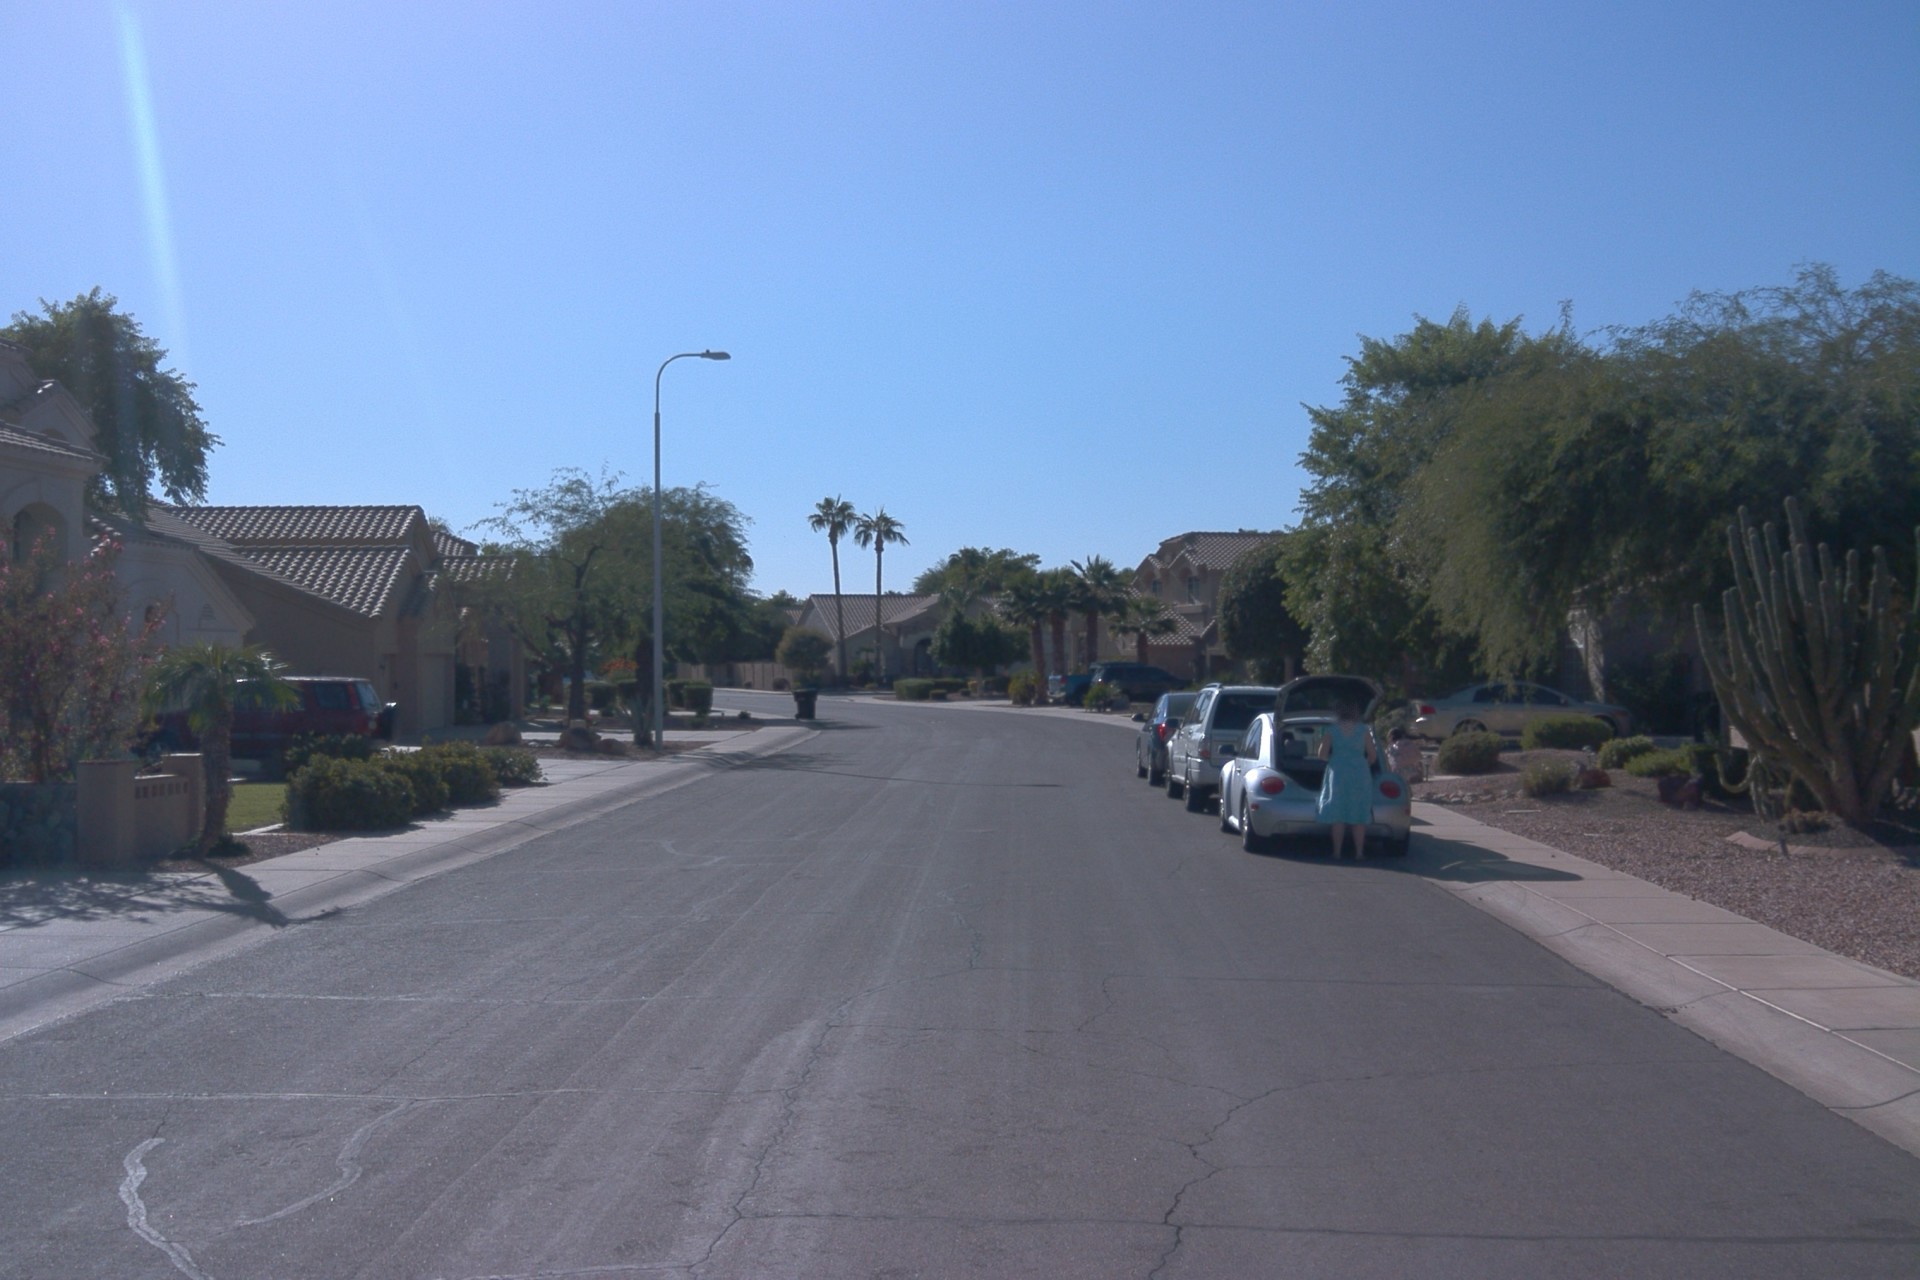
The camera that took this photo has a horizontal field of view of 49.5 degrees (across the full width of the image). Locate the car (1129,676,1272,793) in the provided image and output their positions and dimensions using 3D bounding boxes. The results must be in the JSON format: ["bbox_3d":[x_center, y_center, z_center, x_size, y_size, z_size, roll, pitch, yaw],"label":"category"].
[{"bbox_3d":[3.925,1.512,34.695,1.994,1.750,4.476,0,0,2],"label":"car"}]

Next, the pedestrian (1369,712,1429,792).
[{"bbox_3d":[6.149,1.562,29.220,0.699,1.090,0.762,0,0,2],"label":"pedestrian"}]

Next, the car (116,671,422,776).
[{"bbox_3d":[-11.756,1.407,35.675,4.527,1.720,2.104,0,0,1],"label":"car"}]

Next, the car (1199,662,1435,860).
[{"bbox_3d":[3.843,1.244,23.088,1.895,1.980,4.012,0,0,0],"label":"car"}]

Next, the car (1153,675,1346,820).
[{"bbox_3d":[3.902,1.401,28.879,2.103,1.780,4.807,0,0,1],"label":"car"}]

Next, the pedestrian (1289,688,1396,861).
[{"bbox_3d":[3.858,1.341,21.084,0.906,1.690,0.869,0,0,-1],"label":"pedestrian"}]
